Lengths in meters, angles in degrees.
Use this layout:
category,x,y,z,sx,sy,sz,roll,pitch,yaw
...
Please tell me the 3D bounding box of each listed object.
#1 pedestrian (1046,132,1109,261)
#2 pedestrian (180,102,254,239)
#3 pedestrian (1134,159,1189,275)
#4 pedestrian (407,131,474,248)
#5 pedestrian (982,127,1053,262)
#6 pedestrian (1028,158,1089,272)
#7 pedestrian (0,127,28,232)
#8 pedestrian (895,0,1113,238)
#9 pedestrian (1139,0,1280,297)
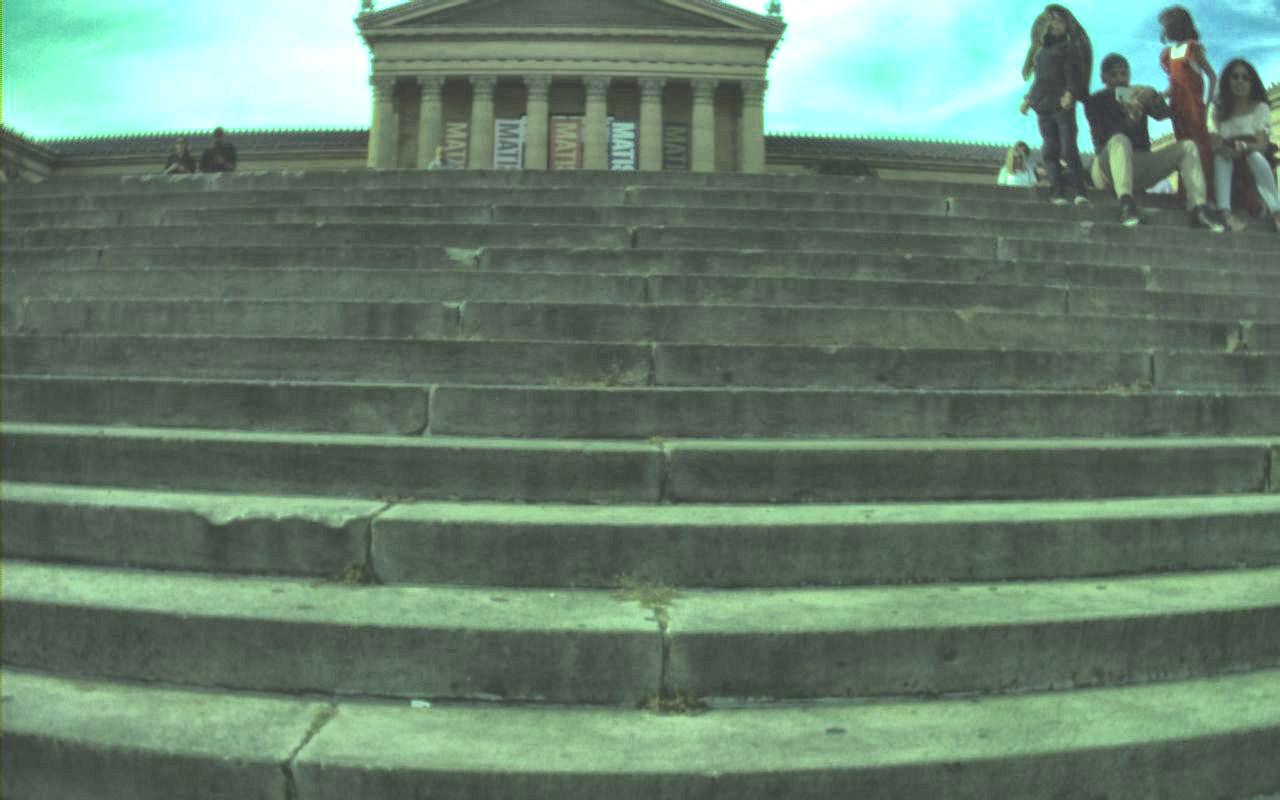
category,x,y,z,sx,sy,sz,roll,pitch,yaw
pedestrian,6.377,-2.936,17.435,0.741,1.791,0.737,0,0,5
pedestrian,-5.891,-3.146,16.489,0.783,1.794,0.779,0,0,-2
pedestrian,8.127,-2.810,18.223,0.772,1.728,0.803,1,0,18
pedestrian,-3.241,-3.403,20.166,0.863,1.790,0.887,0,0,5
pedestrian,5.125,-2.765,16.479,0.824,1.742,0.837,0,0,8
pedestrian,6.461,-2.813,18.511,0.771,1.673,0.795,1,0,32
pedestrian,-11.529,-3.894,19.898,0.666,1.819,0.674,0,0,-13
pedestrian,1.969,-1.750,6.540,1.026,1.673,0.733,0,0,3
pedestrian,3.410,-1.478,6.474,0.789,1.760,0.702,0,0,-10
